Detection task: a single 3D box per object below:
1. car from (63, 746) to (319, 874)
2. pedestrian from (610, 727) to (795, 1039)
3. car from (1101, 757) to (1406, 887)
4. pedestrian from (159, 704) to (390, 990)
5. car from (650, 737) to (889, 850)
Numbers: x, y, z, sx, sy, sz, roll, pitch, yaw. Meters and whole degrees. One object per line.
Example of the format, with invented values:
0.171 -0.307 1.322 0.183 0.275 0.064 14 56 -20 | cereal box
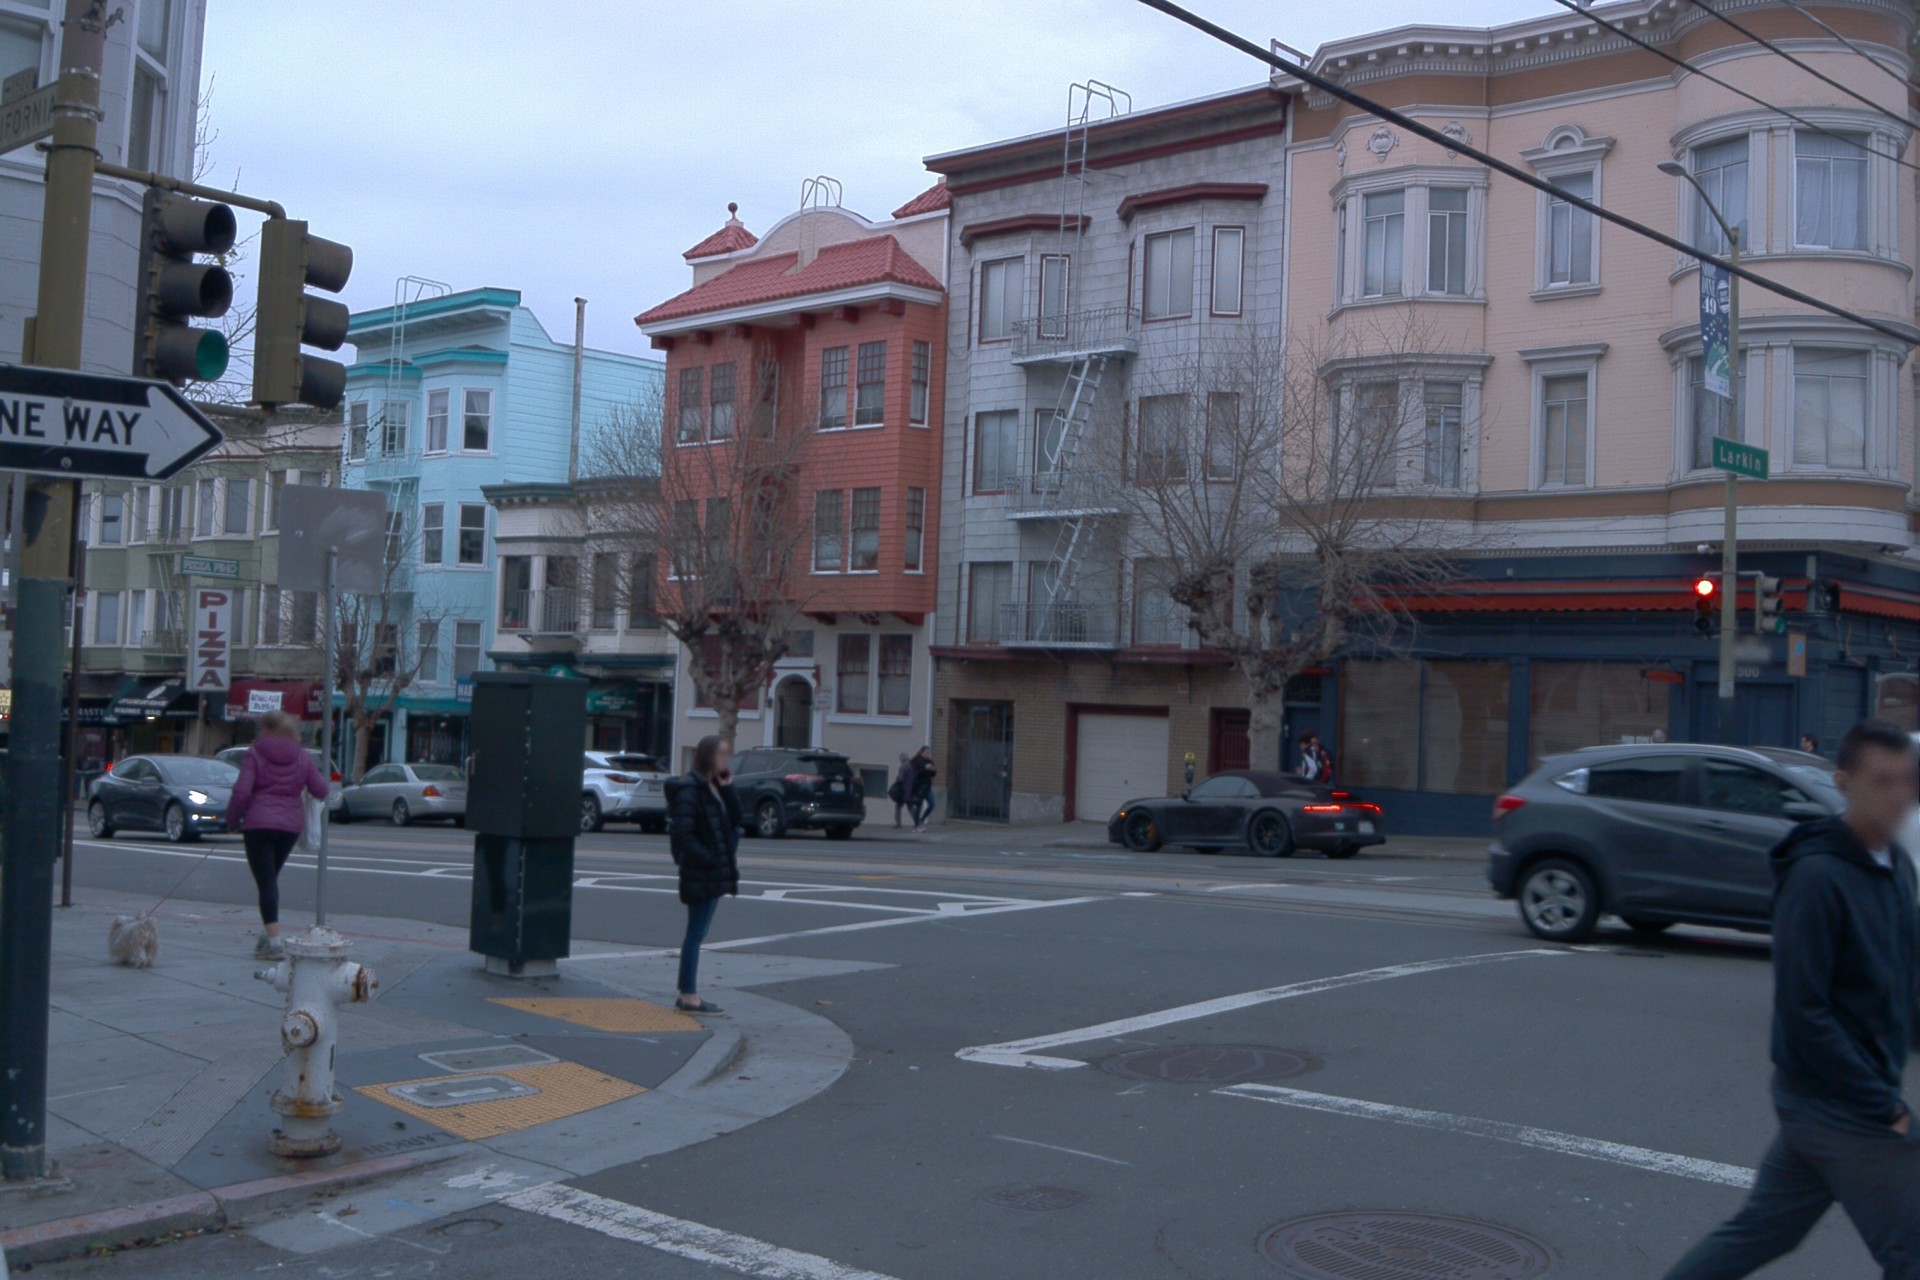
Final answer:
-12.693 2.724 33.912 4.698 1.630 2.074 1 1 44 | car
-1.515 1.392 12.138 0.846 1.692 0.707 -1 1 -35 | pedestrian
4.280 2.626 30.588 1.947 1.460 4.186 -1 1 -43 | car
-4.350 1.260 13.085 1.180 1.640 0.944 1 1 44 | pedestrian
-3.624 2.827 38.770 4.423 1.700 2.100 1 1 44 | car
